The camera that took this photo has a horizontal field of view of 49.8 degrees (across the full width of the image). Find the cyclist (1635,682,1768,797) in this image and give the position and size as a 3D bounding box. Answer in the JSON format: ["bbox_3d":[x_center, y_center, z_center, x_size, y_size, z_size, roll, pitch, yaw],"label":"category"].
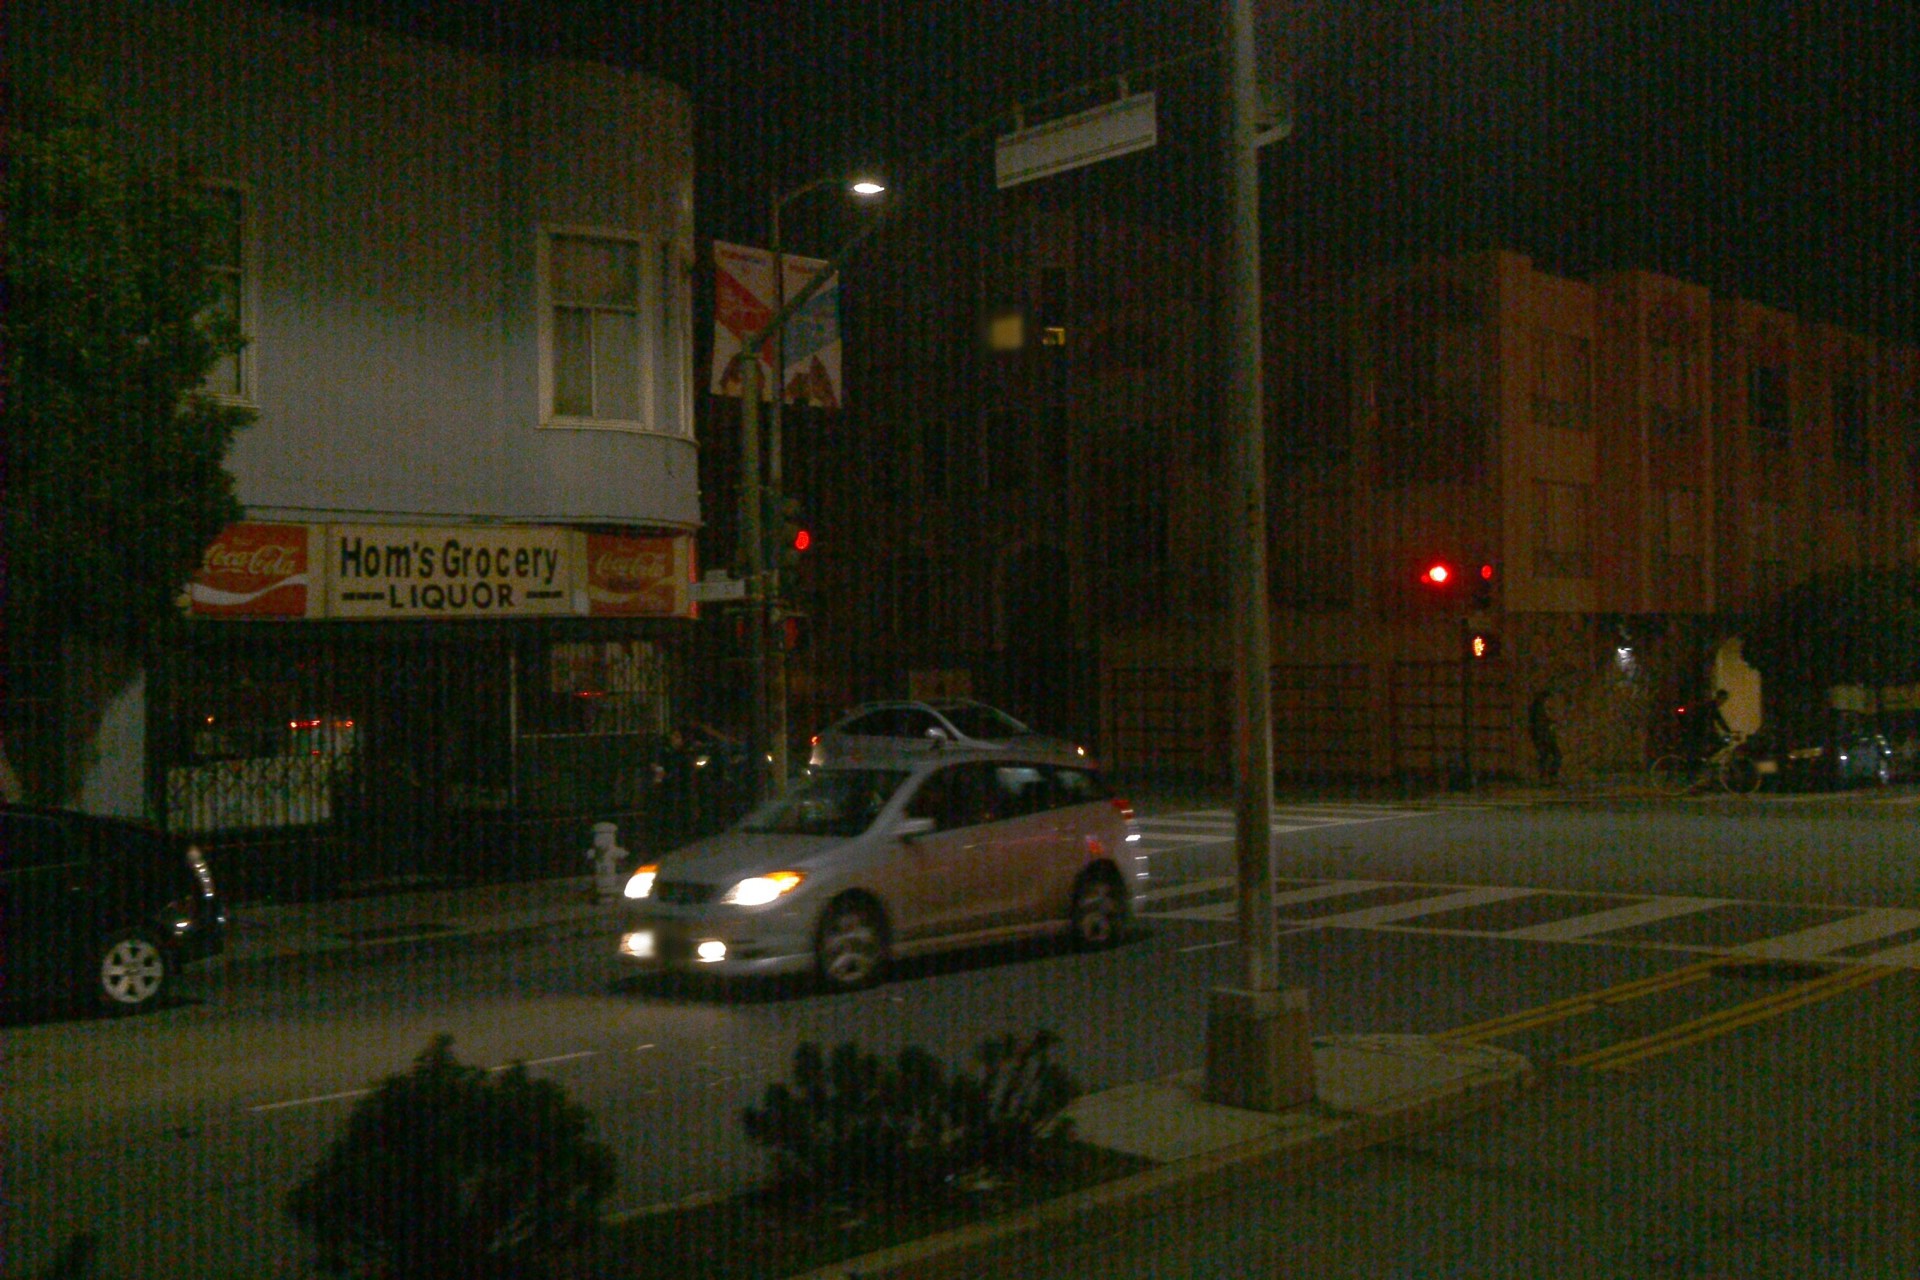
[{"bbox_3d":[12.032,1.594,33.526,1.896,1.760,0.831,1,0,28],"label":"cyclist"}]

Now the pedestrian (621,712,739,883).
[{"bbox_3d":[-2.933,1.627,21.626,0.867,1.690,0.829,1,0,41],"label":"pedestrian"}]

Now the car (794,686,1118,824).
[{"bbox_3d":[-0.125,1.650,31.011,4.614,1.760,2.139,1,0,43],"label":"car"}]

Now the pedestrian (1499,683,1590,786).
[{"bbox_3d":[10.040,1.597,35.495,1.175,1.690,0.935,1,0,41],"label":"pedestrian"}]

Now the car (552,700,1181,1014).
[{"bbox_3d":[-0.531,1.384,14.795,1.926,1.790,4.344,1,0,43],"label":"car"}]

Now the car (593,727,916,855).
[{"bbox_3d":[-2.822,1.954,27.720,4.278,1.350,1.946,1,0,43],"label":"car"}]
